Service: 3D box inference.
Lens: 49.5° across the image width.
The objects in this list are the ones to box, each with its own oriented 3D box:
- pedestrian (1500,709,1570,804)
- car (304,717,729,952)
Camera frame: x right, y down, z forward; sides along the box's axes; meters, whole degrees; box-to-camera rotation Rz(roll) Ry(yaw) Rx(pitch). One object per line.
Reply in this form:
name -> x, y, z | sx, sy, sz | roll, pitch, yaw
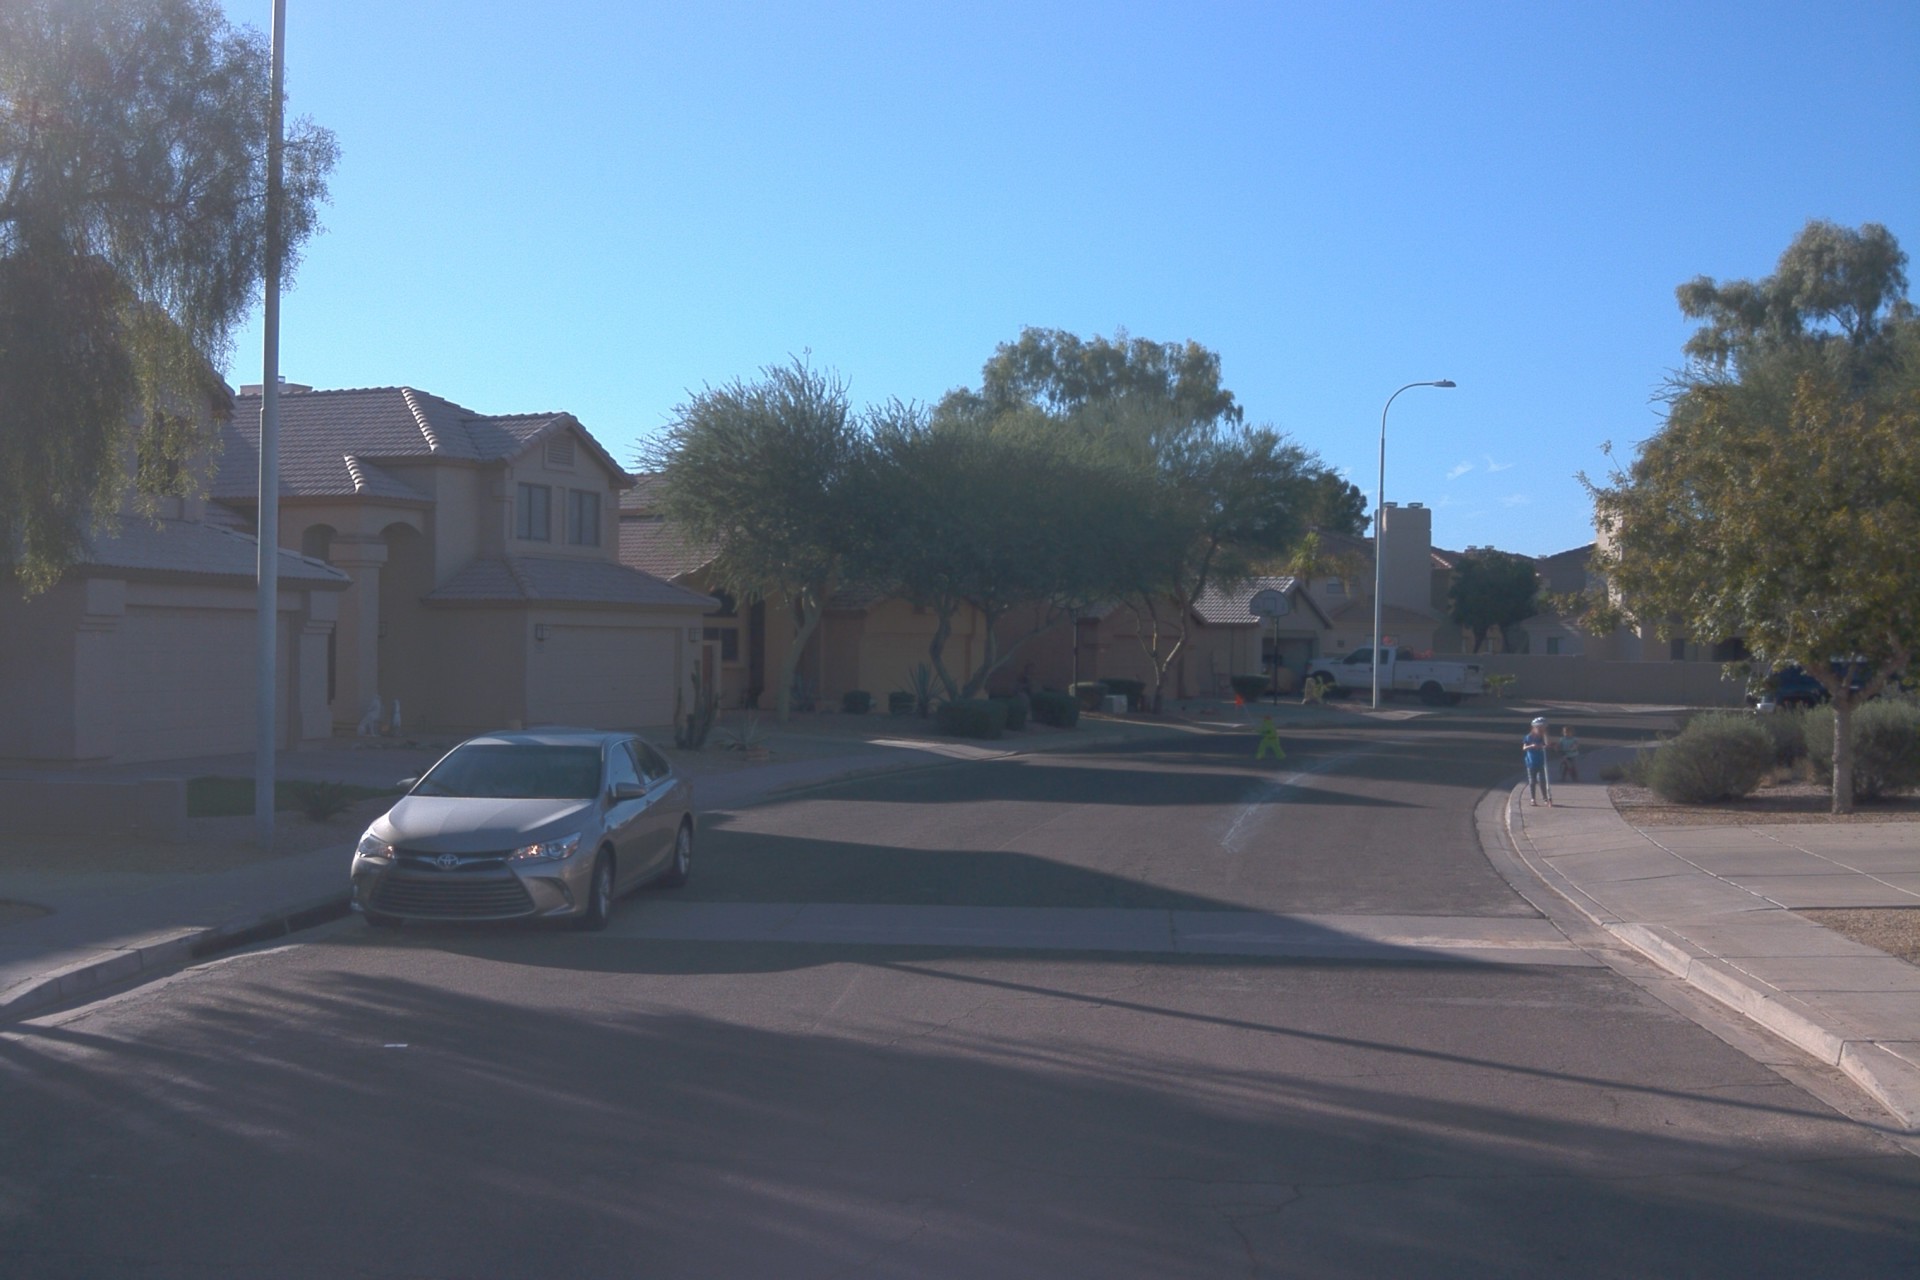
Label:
pedestrian -> 7.776, 1.567, 28.167 | 0.544, 1.230, 1.165 | 0, 0, -4
car -> -3.473, 1.487, 17.399 | 2.189, 1.510, 4.860 | 0, 0, 5
